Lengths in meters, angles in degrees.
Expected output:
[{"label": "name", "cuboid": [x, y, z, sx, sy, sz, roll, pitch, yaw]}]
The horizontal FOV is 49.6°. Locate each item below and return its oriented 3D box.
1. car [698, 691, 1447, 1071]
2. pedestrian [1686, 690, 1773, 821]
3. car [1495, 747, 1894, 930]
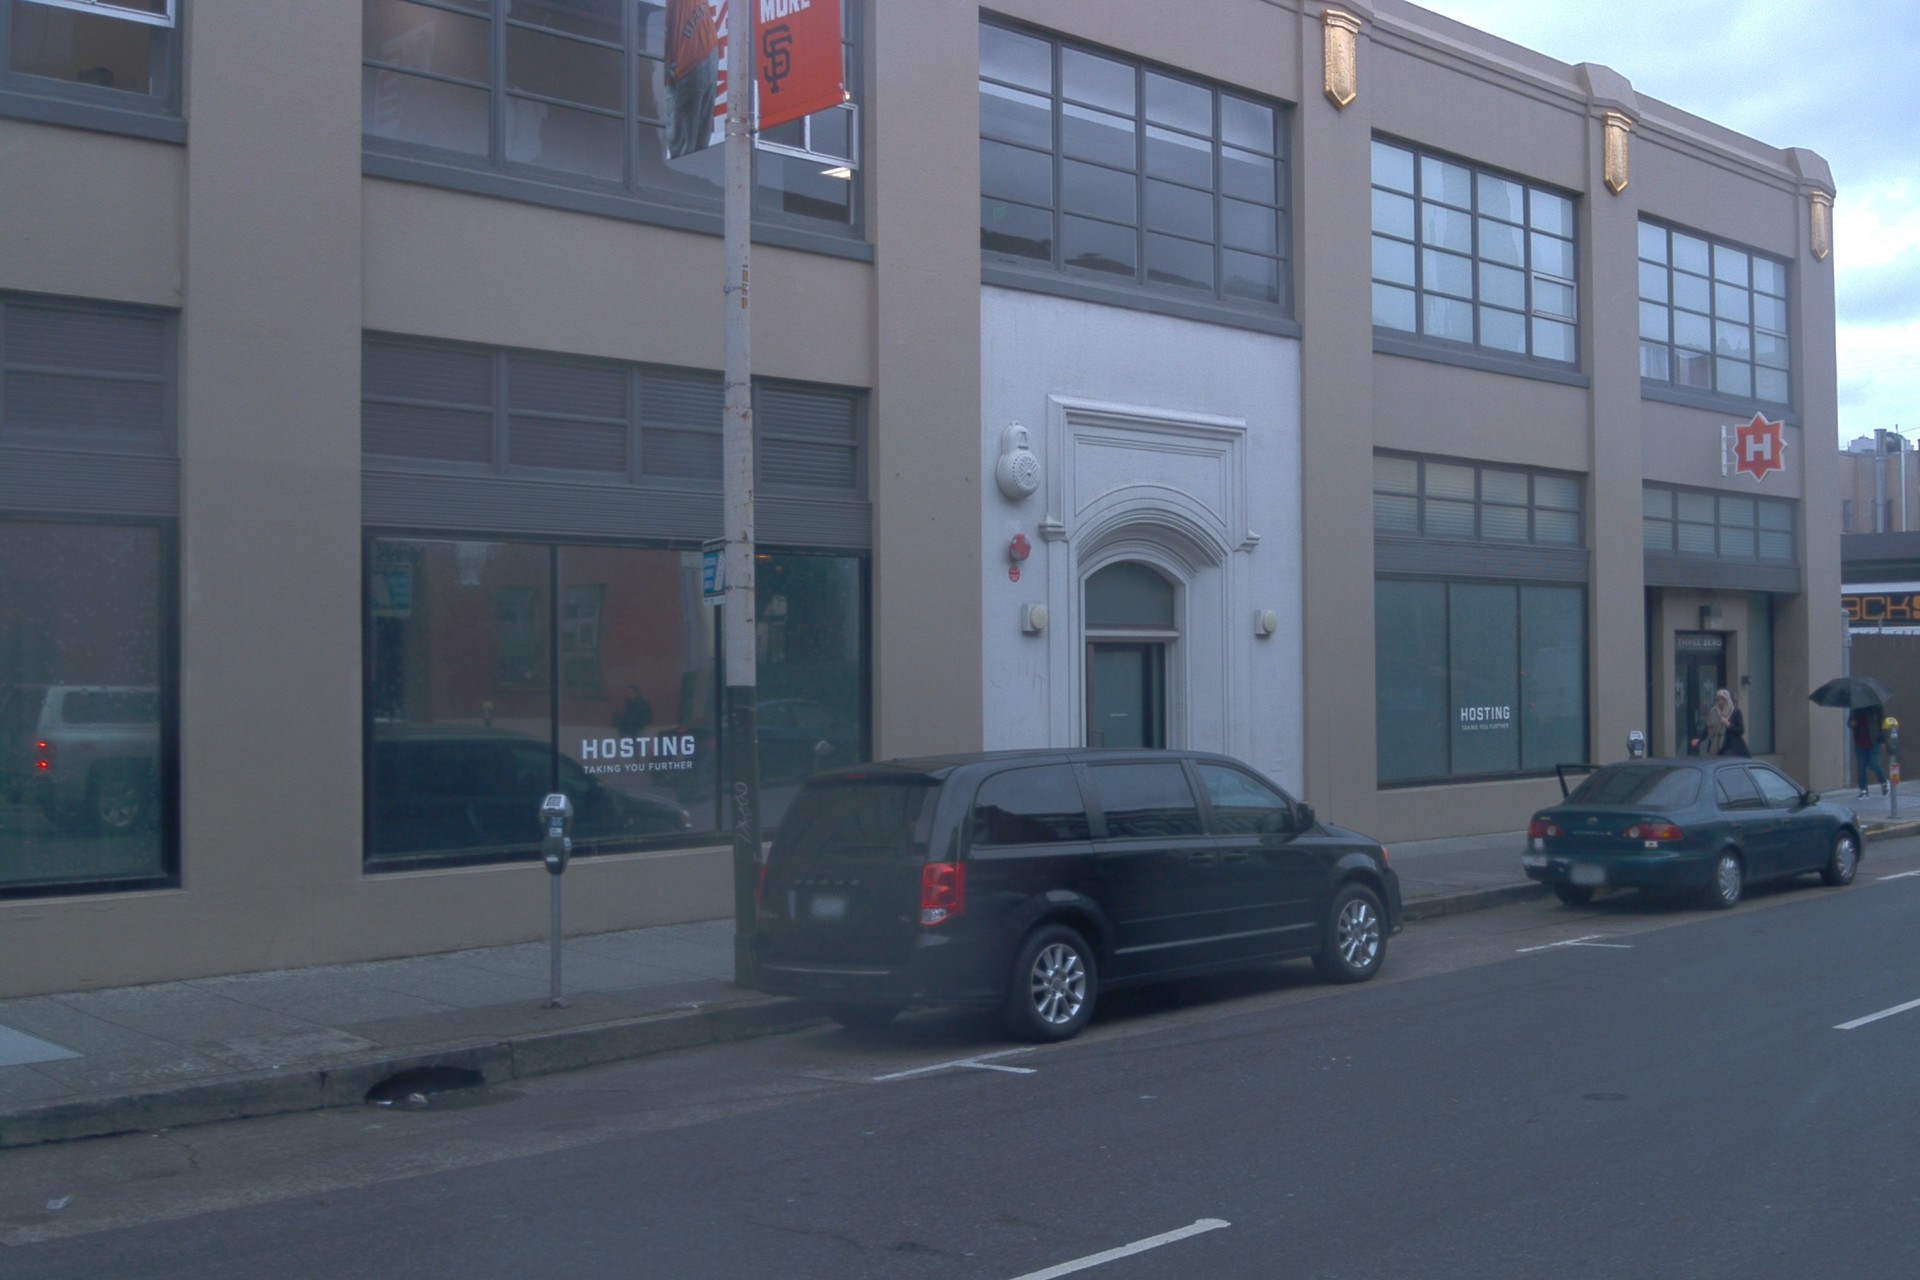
[{"label": "car", "cuboid": [0.941, 1.385, 13.935, 5.129, 1.960, 2.084, 0, 0, -44]}, {"label": "pedestrian", "cuboid": [10.573, 1.570, 28.583, 0.852, 1.740, 0.841, 0, 0, -44]}, {"label": "car", "cuboid": [7.032, 1.782, 19.686, 4.350, 1.328, 1.799, 0, 0, -44]}]
